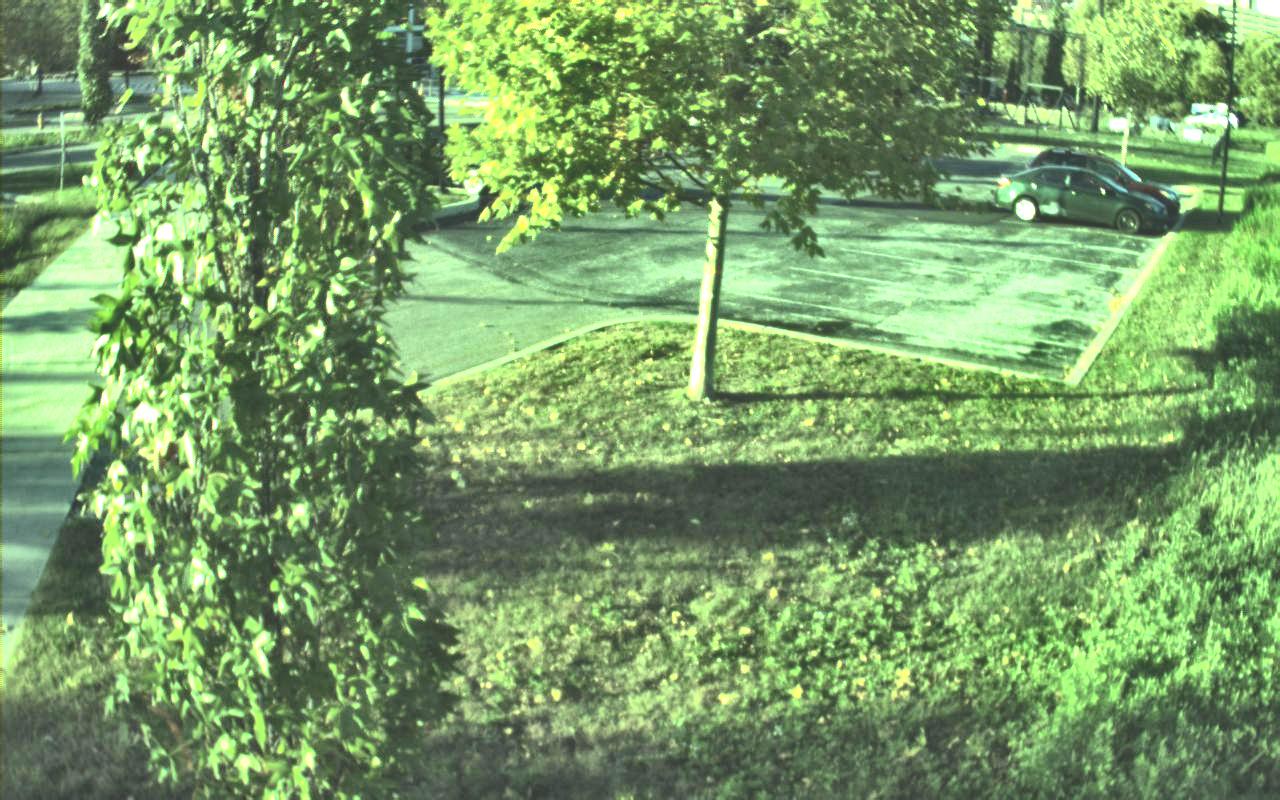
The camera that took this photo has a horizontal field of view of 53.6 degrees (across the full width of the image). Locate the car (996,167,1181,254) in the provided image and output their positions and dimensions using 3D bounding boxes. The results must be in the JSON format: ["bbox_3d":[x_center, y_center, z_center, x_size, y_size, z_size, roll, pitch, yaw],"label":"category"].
[{"bbox_3d":[11.340,-4.777,29.948,4.577,1.627,1.984,7,17,28],"label":"car"}]

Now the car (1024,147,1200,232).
[{"bbox_3d":[12.891,-5.715,32.049,4.837,1.782,2.081,6,17,25],"label":"car"}]
